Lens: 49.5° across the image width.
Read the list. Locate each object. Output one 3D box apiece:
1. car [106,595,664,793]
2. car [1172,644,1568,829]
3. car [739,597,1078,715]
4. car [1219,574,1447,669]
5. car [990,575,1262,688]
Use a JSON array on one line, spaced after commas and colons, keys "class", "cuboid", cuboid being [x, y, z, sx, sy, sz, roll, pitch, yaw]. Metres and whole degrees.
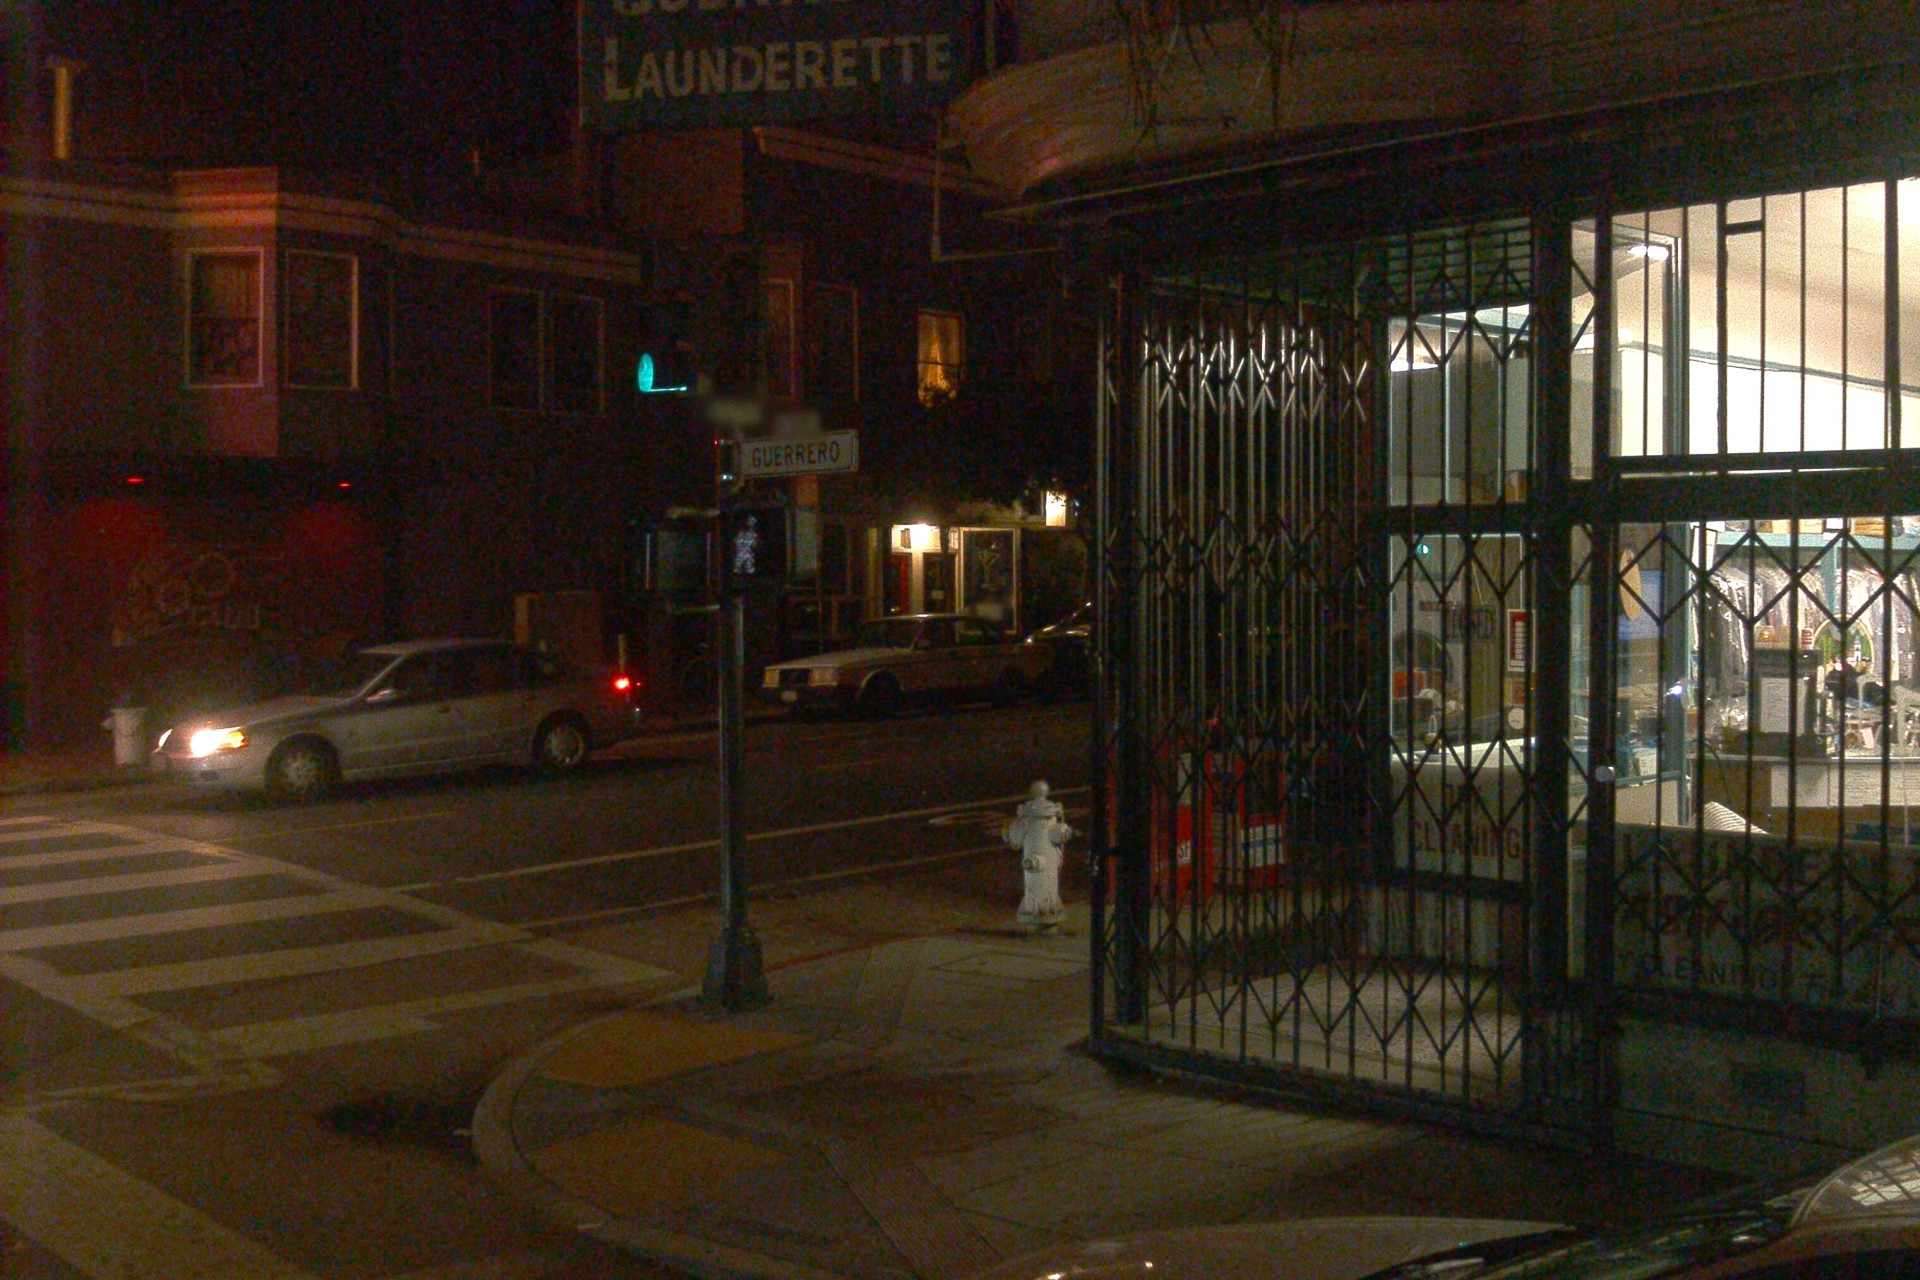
[{"class": "car", "cuboid": [-5.546, 0.490, 20.446, 4.810, 1.720, 2.142, 1, 0, -41]}, {"class": "car", "cuboid": [3.608, 0.776, 18.002, 3.504, 1.420, 1.655, 1, 0, -45]}, {"class": "car", "cuboid": [-0.649, 0.233, 29.841, 1.884, 1.550, 4.981, 1, 0, 43]}, {"class": "car", "cuboid": [6.684, -0.297, 37.012, 1.924, 1.570, 4.226, 1, 0, 45]}, {"class": "car", "cuboid": [2.705, -0.110, 33.202, 1.991, 1.690, 4.349, 1, 0, 44]}]
